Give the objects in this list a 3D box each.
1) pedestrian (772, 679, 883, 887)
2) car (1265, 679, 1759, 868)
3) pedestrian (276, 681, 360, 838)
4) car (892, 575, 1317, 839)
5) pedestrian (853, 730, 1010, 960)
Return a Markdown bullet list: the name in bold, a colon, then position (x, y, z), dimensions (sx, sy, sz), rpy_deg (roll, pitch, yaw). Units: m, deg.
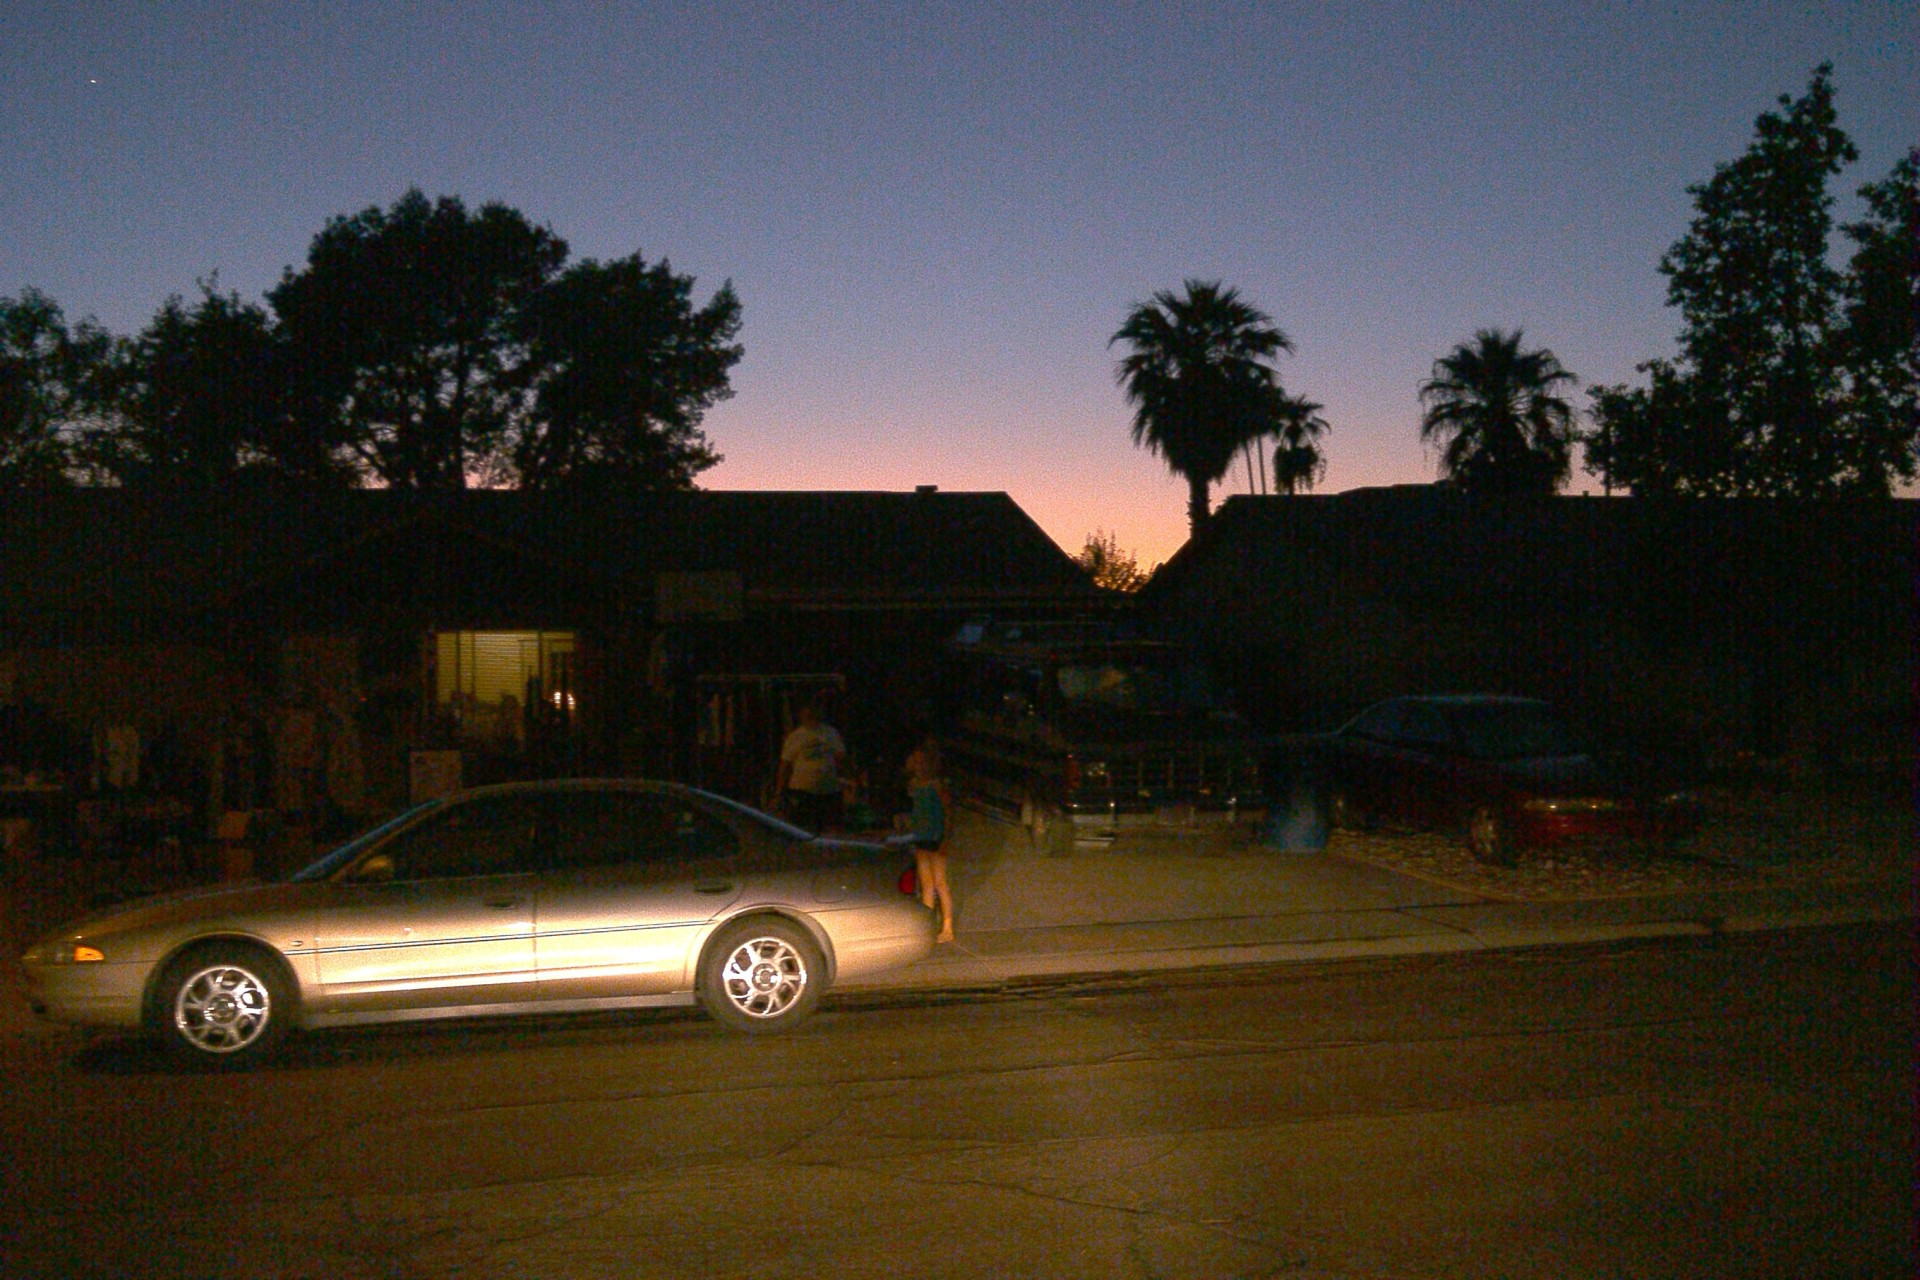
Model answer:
- **pedestrian**: position (-1.122, 1.177, 17.458), dimensions (0.832, 1.690, 0.834), rpy_deg (0, -1, -10)
- **car**: position (5.059, 1.159, 19.988), dimensions (2.145, 1.570, 5.086), rpy_deg (0, -1, -18)
- **pedestrian**: position (-6.831, 1.253, 22.148), dimensions (0.812, 1.640, 0.647), rpy_deg (0, -1, -13)
- **car**: position (1.243, 0.644, 21.154), dimensions (2.590, 2.310, 5.425), rpy_deg (0, -1, -16)
- **pedestrian**: position (-0.195, 1.427, 14.789), dimensions (0.835, 1.540, 0.877), rpy_deg (0, -1, 22)
